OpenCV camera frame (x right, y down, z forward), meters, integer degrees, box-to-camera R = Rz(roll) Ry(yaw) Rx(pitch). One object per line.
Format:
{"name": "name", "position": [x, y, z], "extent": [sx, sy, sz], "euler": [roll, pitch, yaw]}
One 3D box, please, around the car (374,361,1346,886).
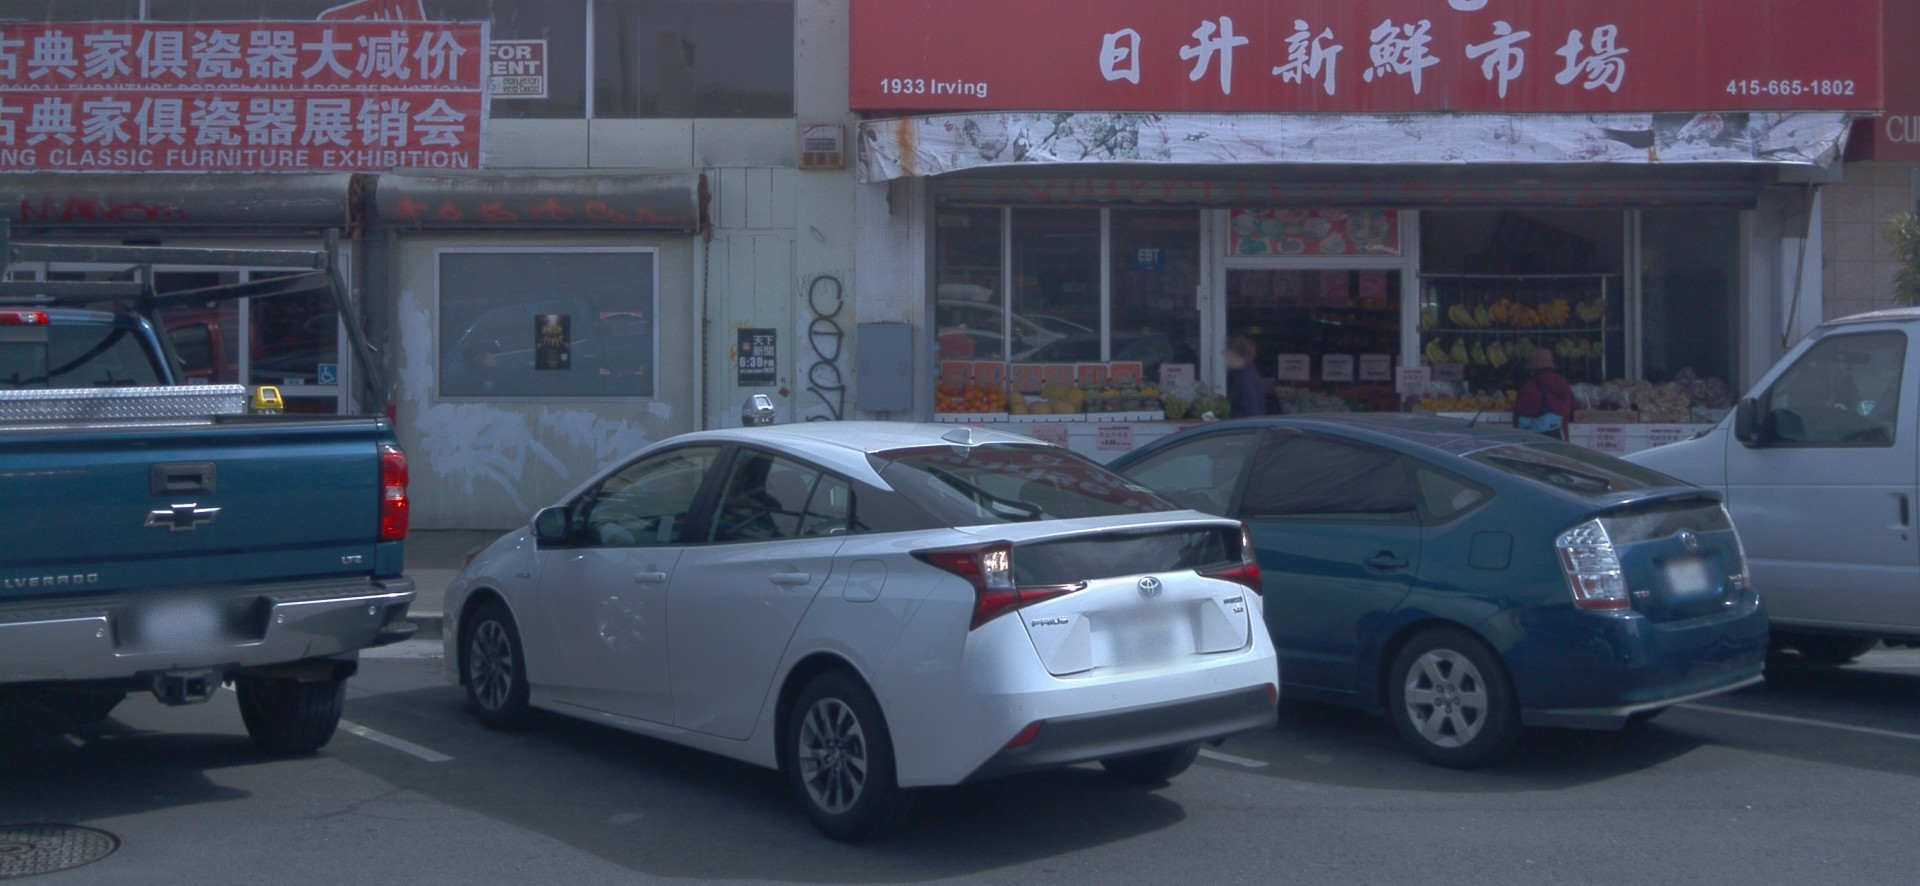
{"name": "car", "position": [-0.662, 0.580, 9.042], "extent": [2.100, 1.567, 4.268], "euler": [-3, 6, -39]}

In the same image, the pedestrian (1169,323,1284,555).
{"name": "pedestrian", "position": [1.939, -0.053, 15.161], "extent": [0.769, 1.611, 0.758], "euler": [0, 1, 3]}

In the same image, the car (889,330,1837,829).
{"name": "car", "position": [1.825, 0.414, 10.328], "extent": [2.053, 1.715, 4.227], "euler": [-3, 6, -44]}
